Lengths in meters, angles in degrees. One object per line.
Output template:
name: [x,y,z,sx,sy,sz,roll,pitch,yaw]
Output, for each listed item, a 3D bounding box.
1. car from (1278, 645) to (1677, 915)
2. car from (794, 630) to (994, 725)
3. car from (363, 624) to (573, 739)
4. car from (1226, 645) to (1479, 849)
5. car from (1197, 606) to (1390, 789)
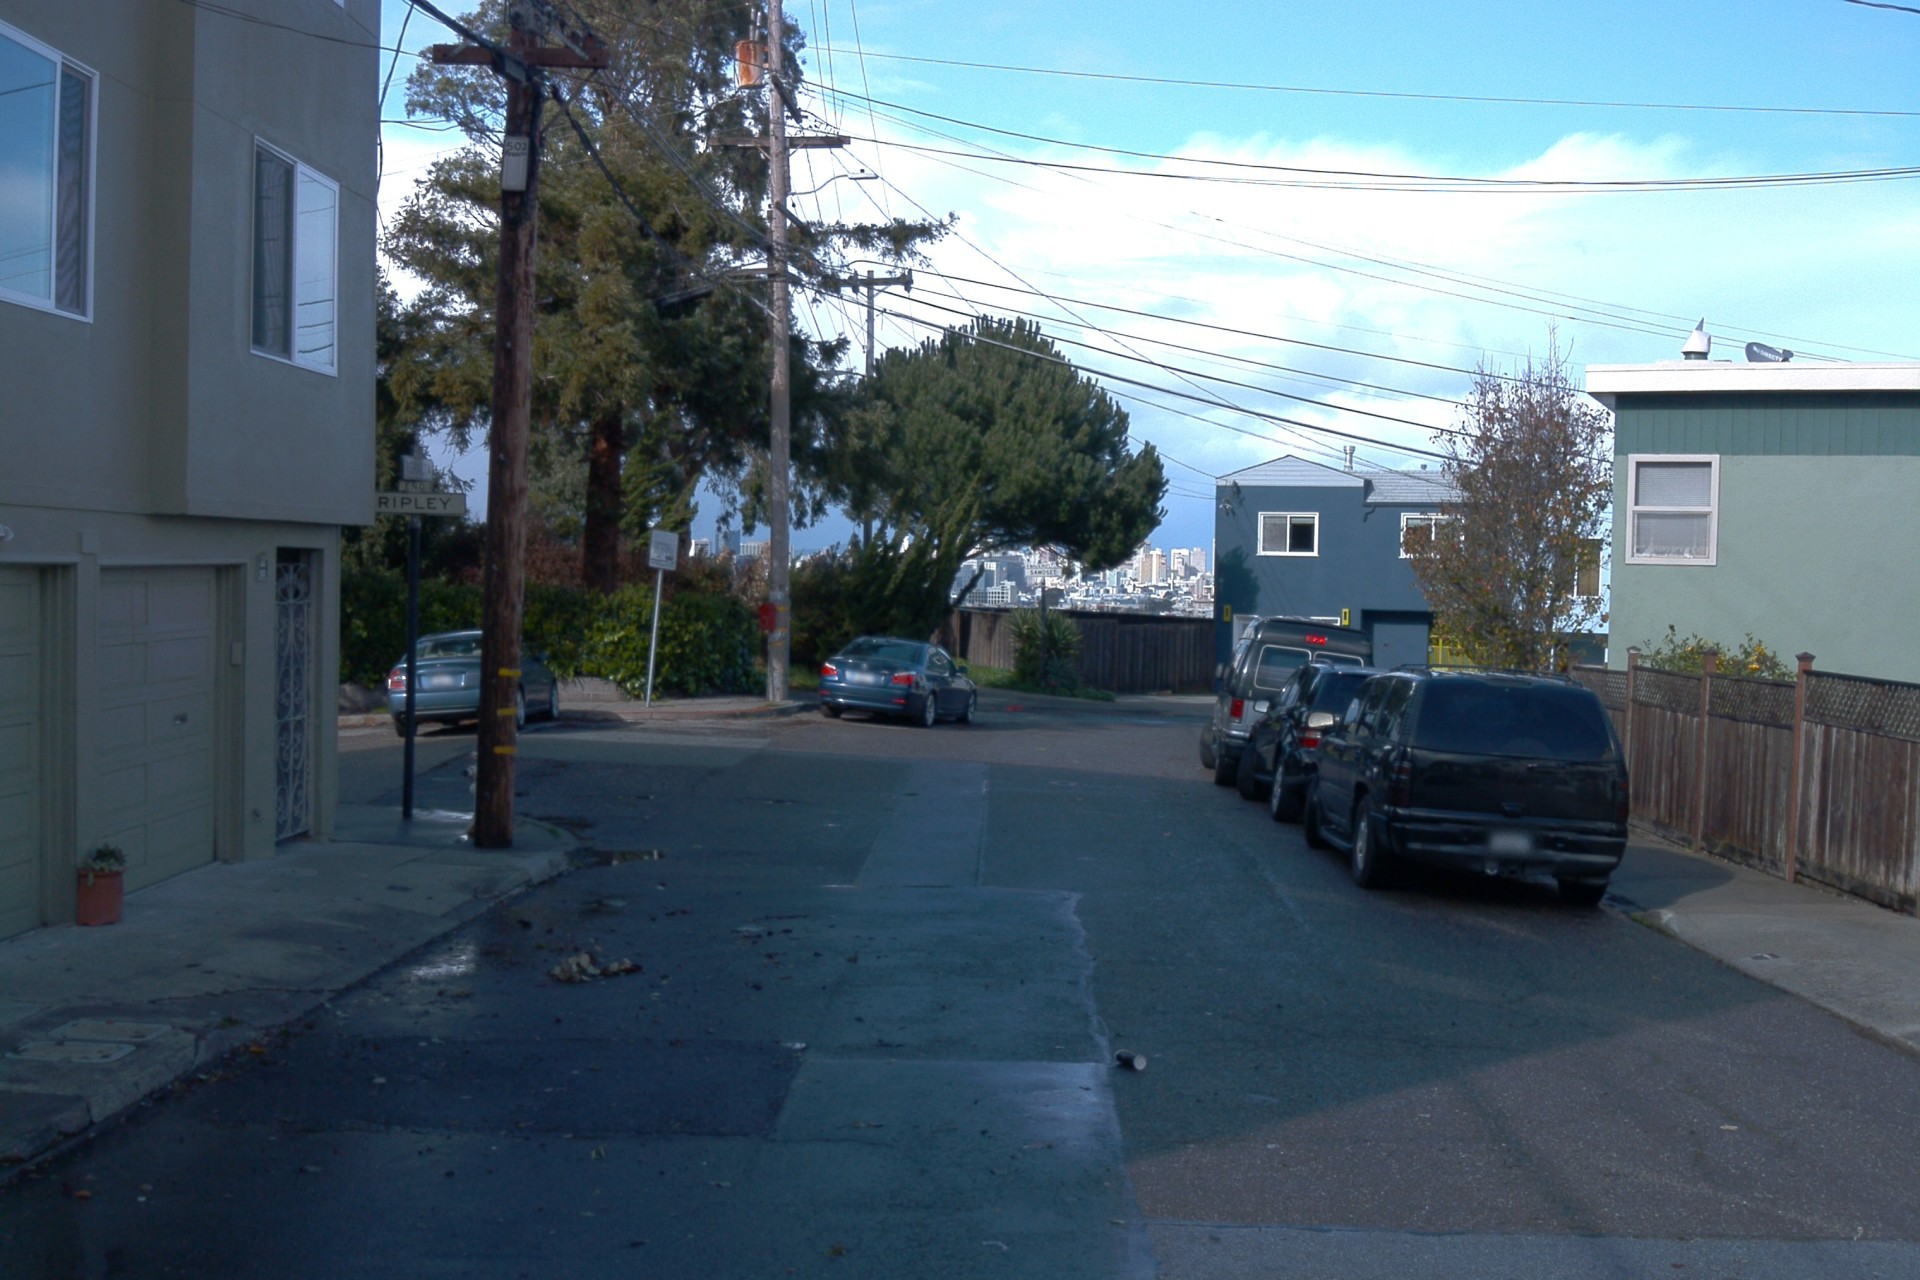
car: [4.258,1.052,17.922,2.280,1.880,5.115,1,1,2]
car: [-1.042,0.584,35.173,2.158,1.430,4.595,1,1,15]
car: [-6.940,0.527,29.489,1.906,1.450,4.515,1,1,0]
car: [4.327,1.105,23.444,2.071,1.960,4.716,1,1,2]
car: [4.553,0.691,28.902,2.287,2.280,5.497,1,1,6]
